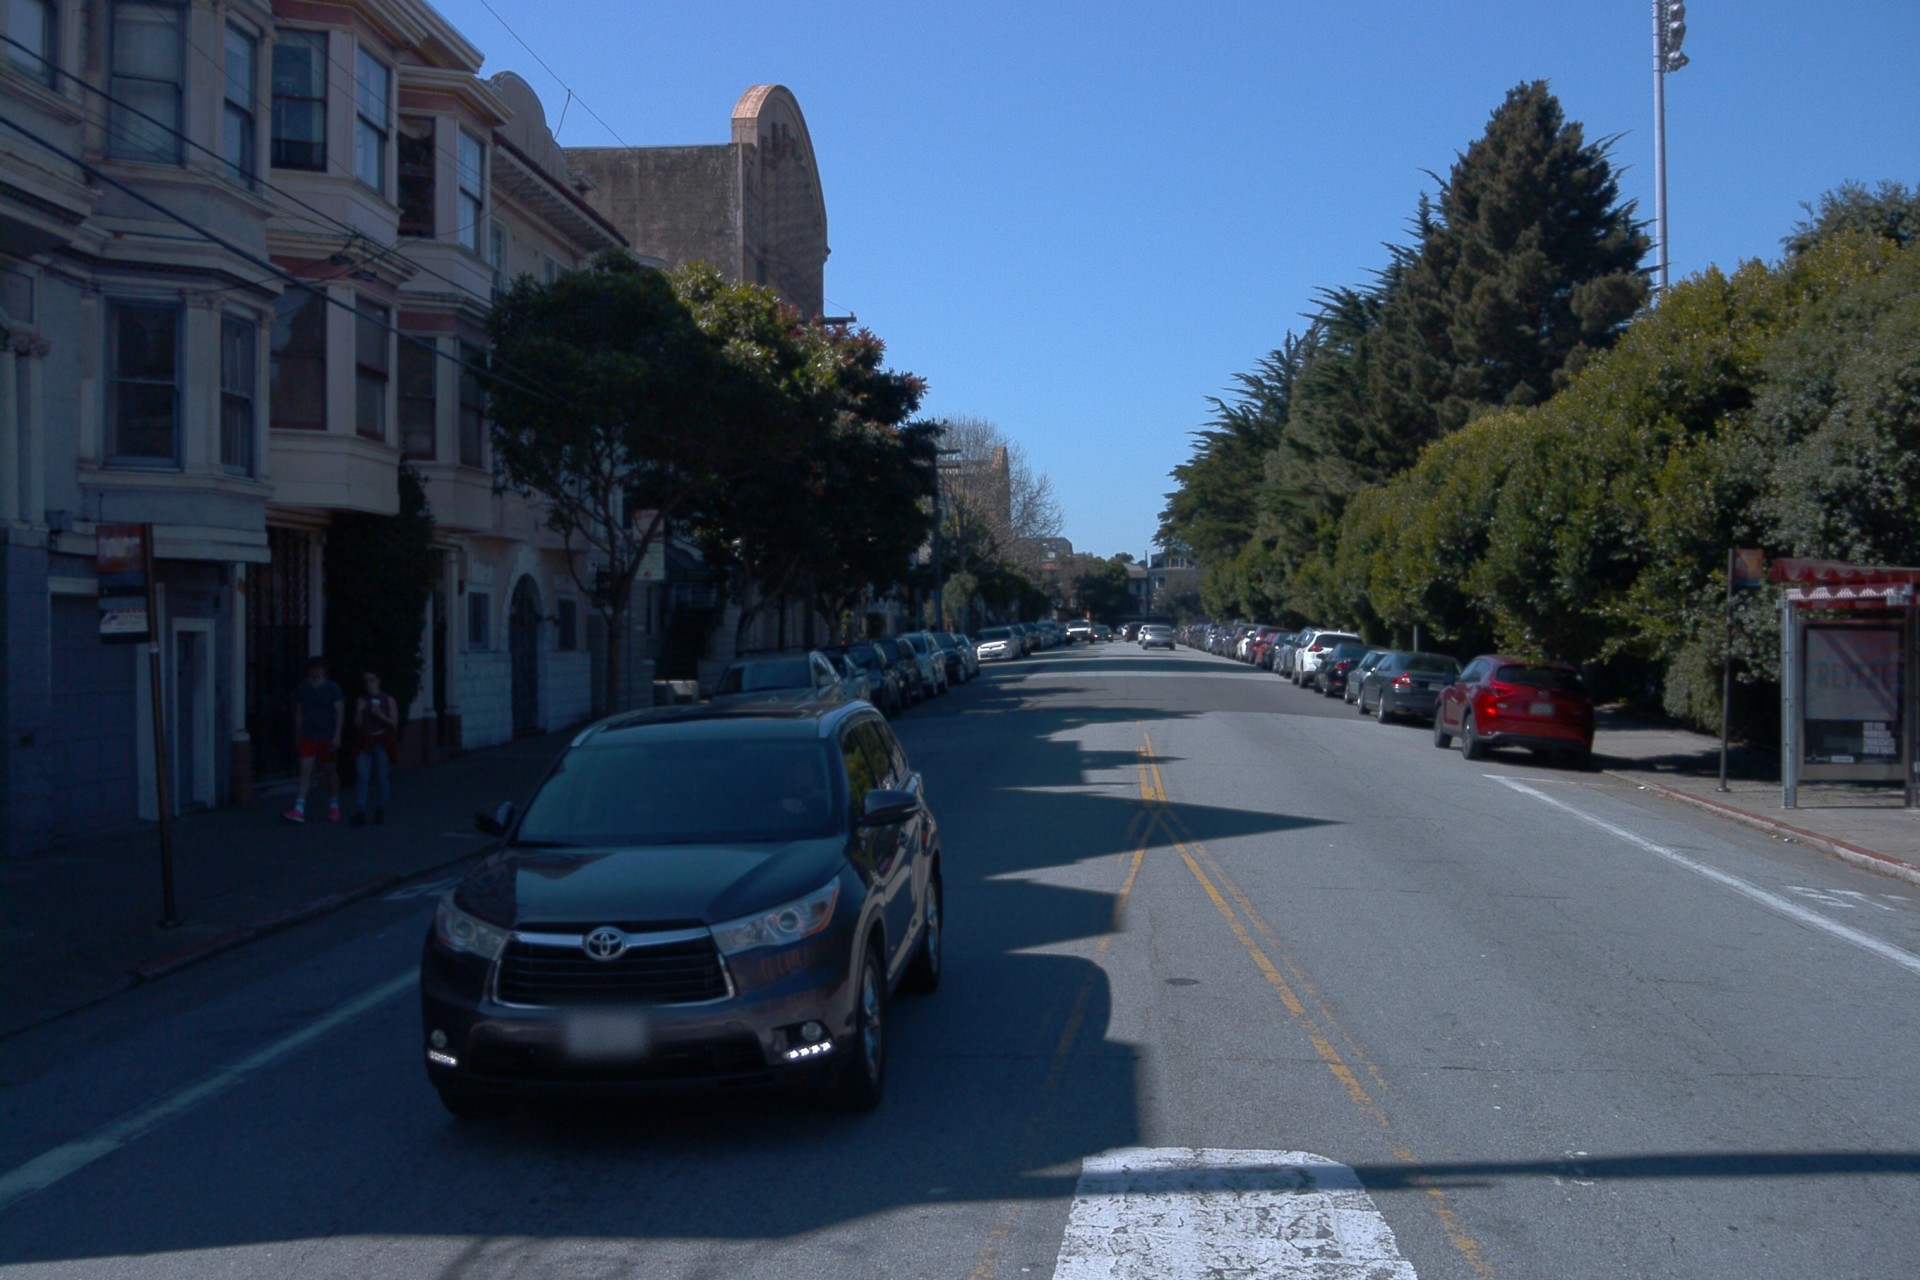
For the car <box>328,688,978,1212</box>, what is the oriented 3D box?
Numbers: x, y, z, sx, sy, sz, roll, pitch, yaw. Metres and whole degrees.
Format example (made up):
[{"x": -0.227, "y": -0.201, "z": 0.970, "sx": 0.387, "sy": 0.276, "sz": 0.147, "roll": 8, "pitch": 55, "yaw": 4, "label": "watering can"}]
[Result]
[{"x": -1.180, "y": 1.243, "z": 10.353, "sx": 2.176, "sy": 1.800, "sz": 4.859, "roll": 0, "pitch": 1, "yaw": 5, "label": "car"}]

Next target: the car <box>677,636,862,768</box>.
[{"x": -2.951, "y": 0.919, "z": 33.048, "sx": 2.225, "sy": 1.880, "sz": 5.010, "roll": 0, "pitch": 1, "yaw": 3, "label": "car"}]

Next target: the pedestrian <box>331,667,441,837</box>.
[{"x": -6.267, "y": 1.206, "z": 22.511, "sx": 0.863, "sy": 1.780, "sz": 0.990, "roll": 0, "pitch": 1, "yaw": 5, "label": "pedestrian"}]

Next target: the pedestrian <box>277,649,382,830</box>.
[{"x": -6.924, "y": 1.073, "z": 22.622, "sx": 0.806, "sy": 1.930, "sz": 0.883, "roll": 0, "pitch": 1, "yaw": 8, "label": "pedestrian"}]

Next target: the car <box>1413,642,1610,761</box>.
[{"x": 8.787, "y": 0.924, "z": 33.194, "sx": 2.214, "sy": 1.700, "sz": 4.643, "roll": 0, "pitch": 1, "yaw": 4, "label": "car"}]
